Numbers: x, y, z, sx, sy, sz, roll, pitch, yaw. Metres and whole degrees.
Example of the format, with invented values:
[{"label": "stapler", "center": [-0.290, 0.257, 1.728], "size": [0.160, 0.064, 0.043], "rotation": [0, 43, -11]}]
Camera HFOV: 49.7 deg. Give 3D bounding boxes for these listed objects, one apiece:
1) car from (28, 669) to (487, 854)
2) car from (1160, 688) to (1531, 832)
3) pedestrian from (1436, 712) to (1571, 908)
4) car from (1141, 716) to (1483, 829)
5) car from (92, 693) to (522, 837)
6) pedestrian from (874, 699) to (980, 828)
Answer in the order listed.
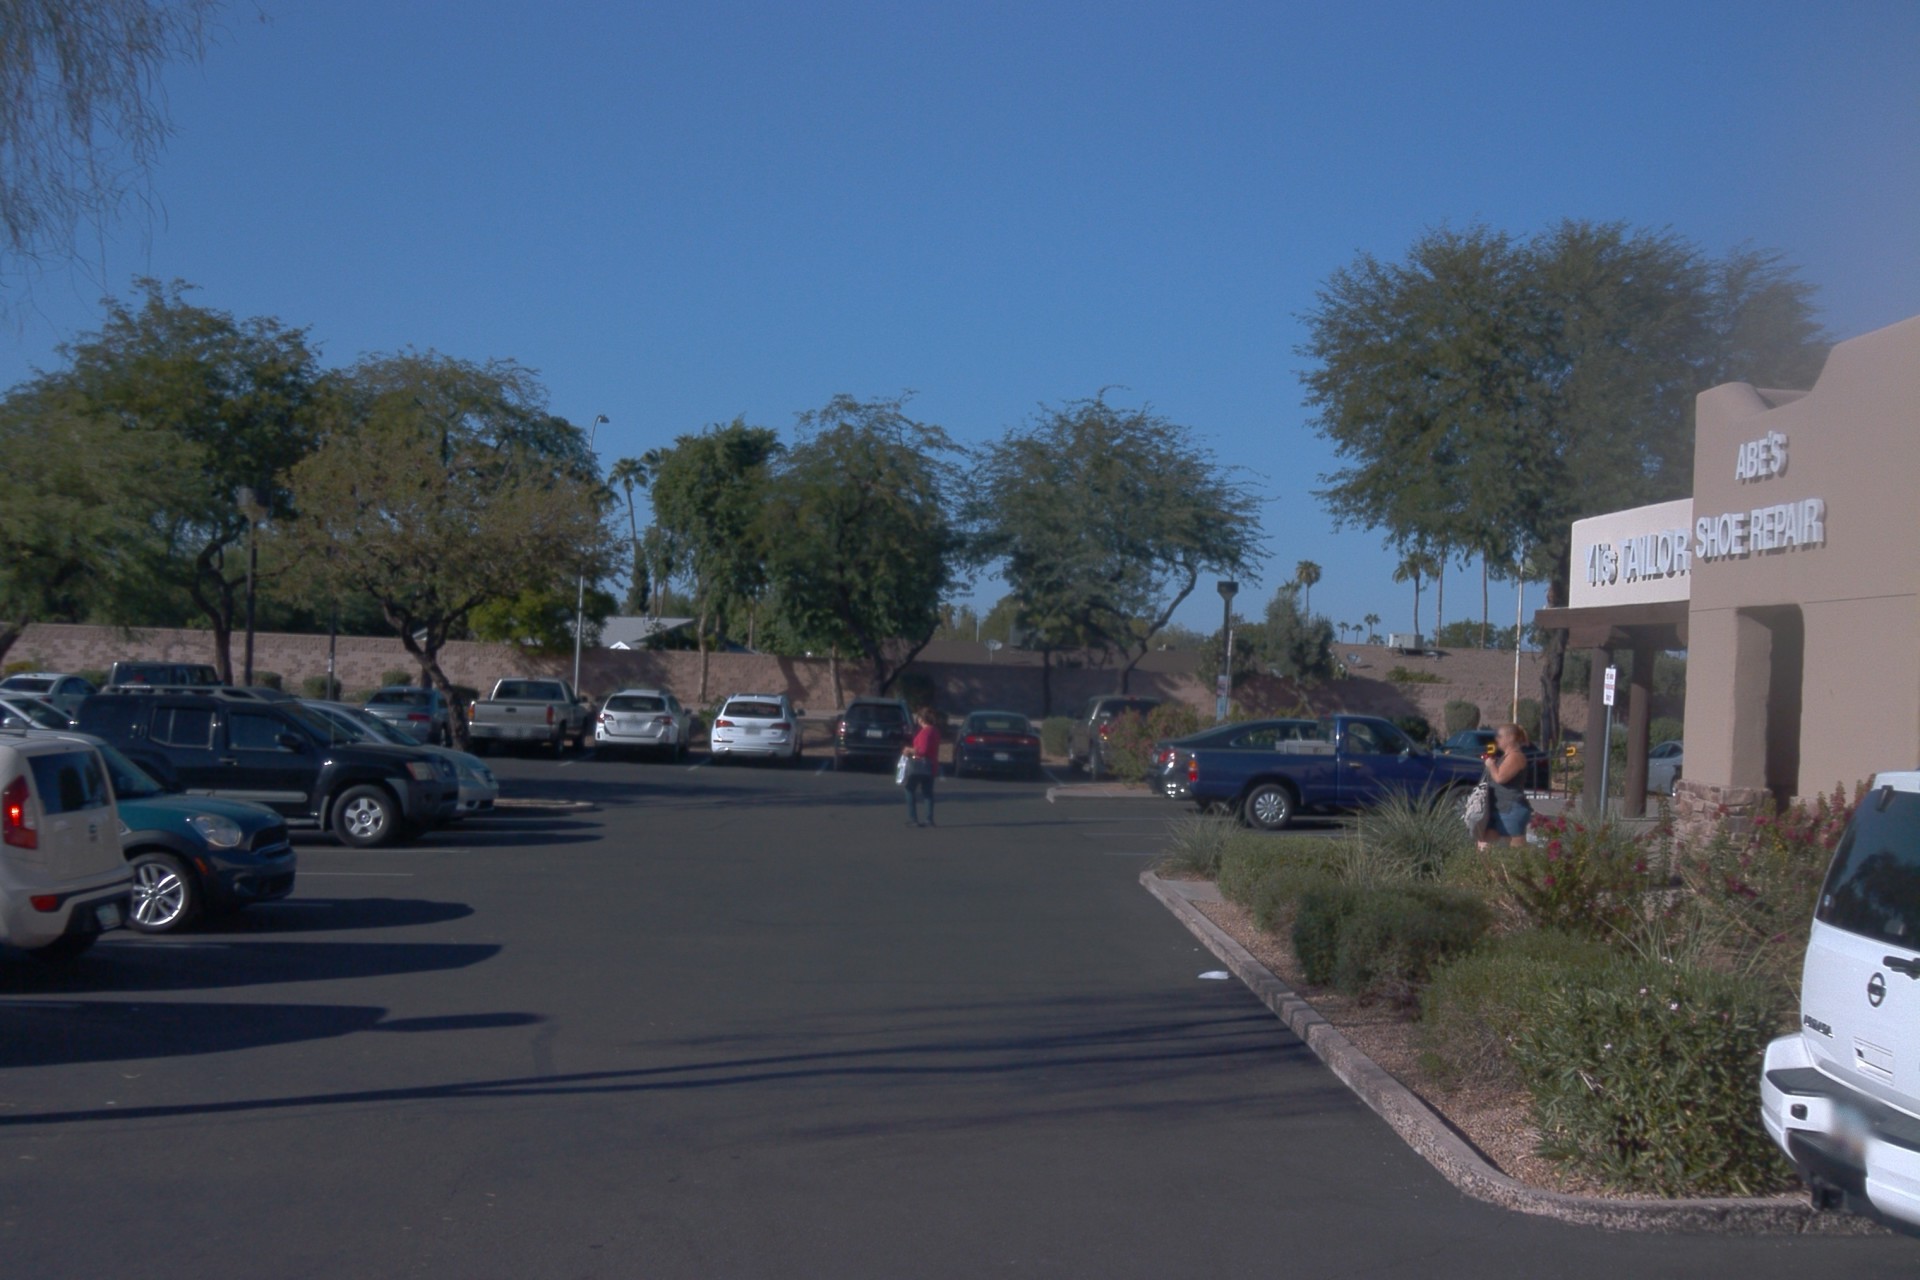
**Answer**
[{"label": "car", "center": [-8.261, 1.405, 24.733], "size": [4.695, 2.050, 2.170], "rotation": [1, -1, 1]}, {"label": "car", "center": [5.254, 1.624, 28.726], "size": [4.685, 1.860, 2.090], "rotation": [1, -1, -2]}, {"label": "pedestrian", "center": [5.023, 1.551, 19.205], "size": [0.962, 1.750, 0.926], "rotation": [1, -1, -2]}, {"label": "car", "center": [5.263, 1.982, 31.450], "size": [4.781, 1.570, 2.041], "rotation": [1, -1, -3]}, {"label": "car", "center": [-8.574, 1.639, 27.653], "size": [5.061, 1.780, 2.238], "rotation": [1, -1, -4]}, {"label": "pedestrian", "center": [-0.449, 1.649, 28.073], "size": [1.039, 1.680, 0.982], "rotation": [0, -1, 34]}]
